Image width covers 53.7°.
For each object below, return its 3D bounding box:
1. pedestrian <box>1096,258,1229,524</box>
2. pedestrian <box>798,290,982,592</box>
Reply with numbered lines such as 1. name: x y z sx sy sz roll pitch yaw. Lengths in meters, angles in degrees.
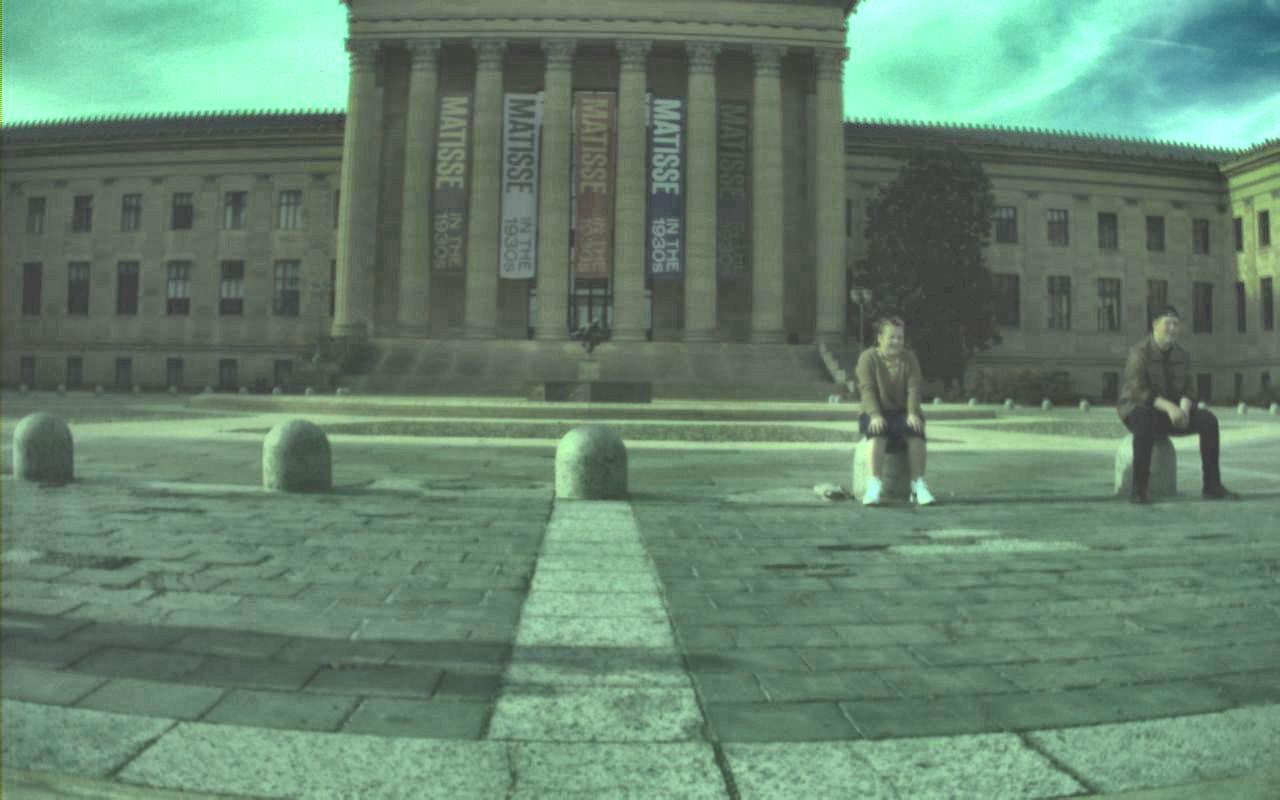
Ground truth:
1. pedestrian: 3.503 -0.050 7.867 0.711 1.692 0.731 0 0 1
2. pedestrian: 1.608 0.238 7.924 0.838 1.798 0.858 1 0 44
